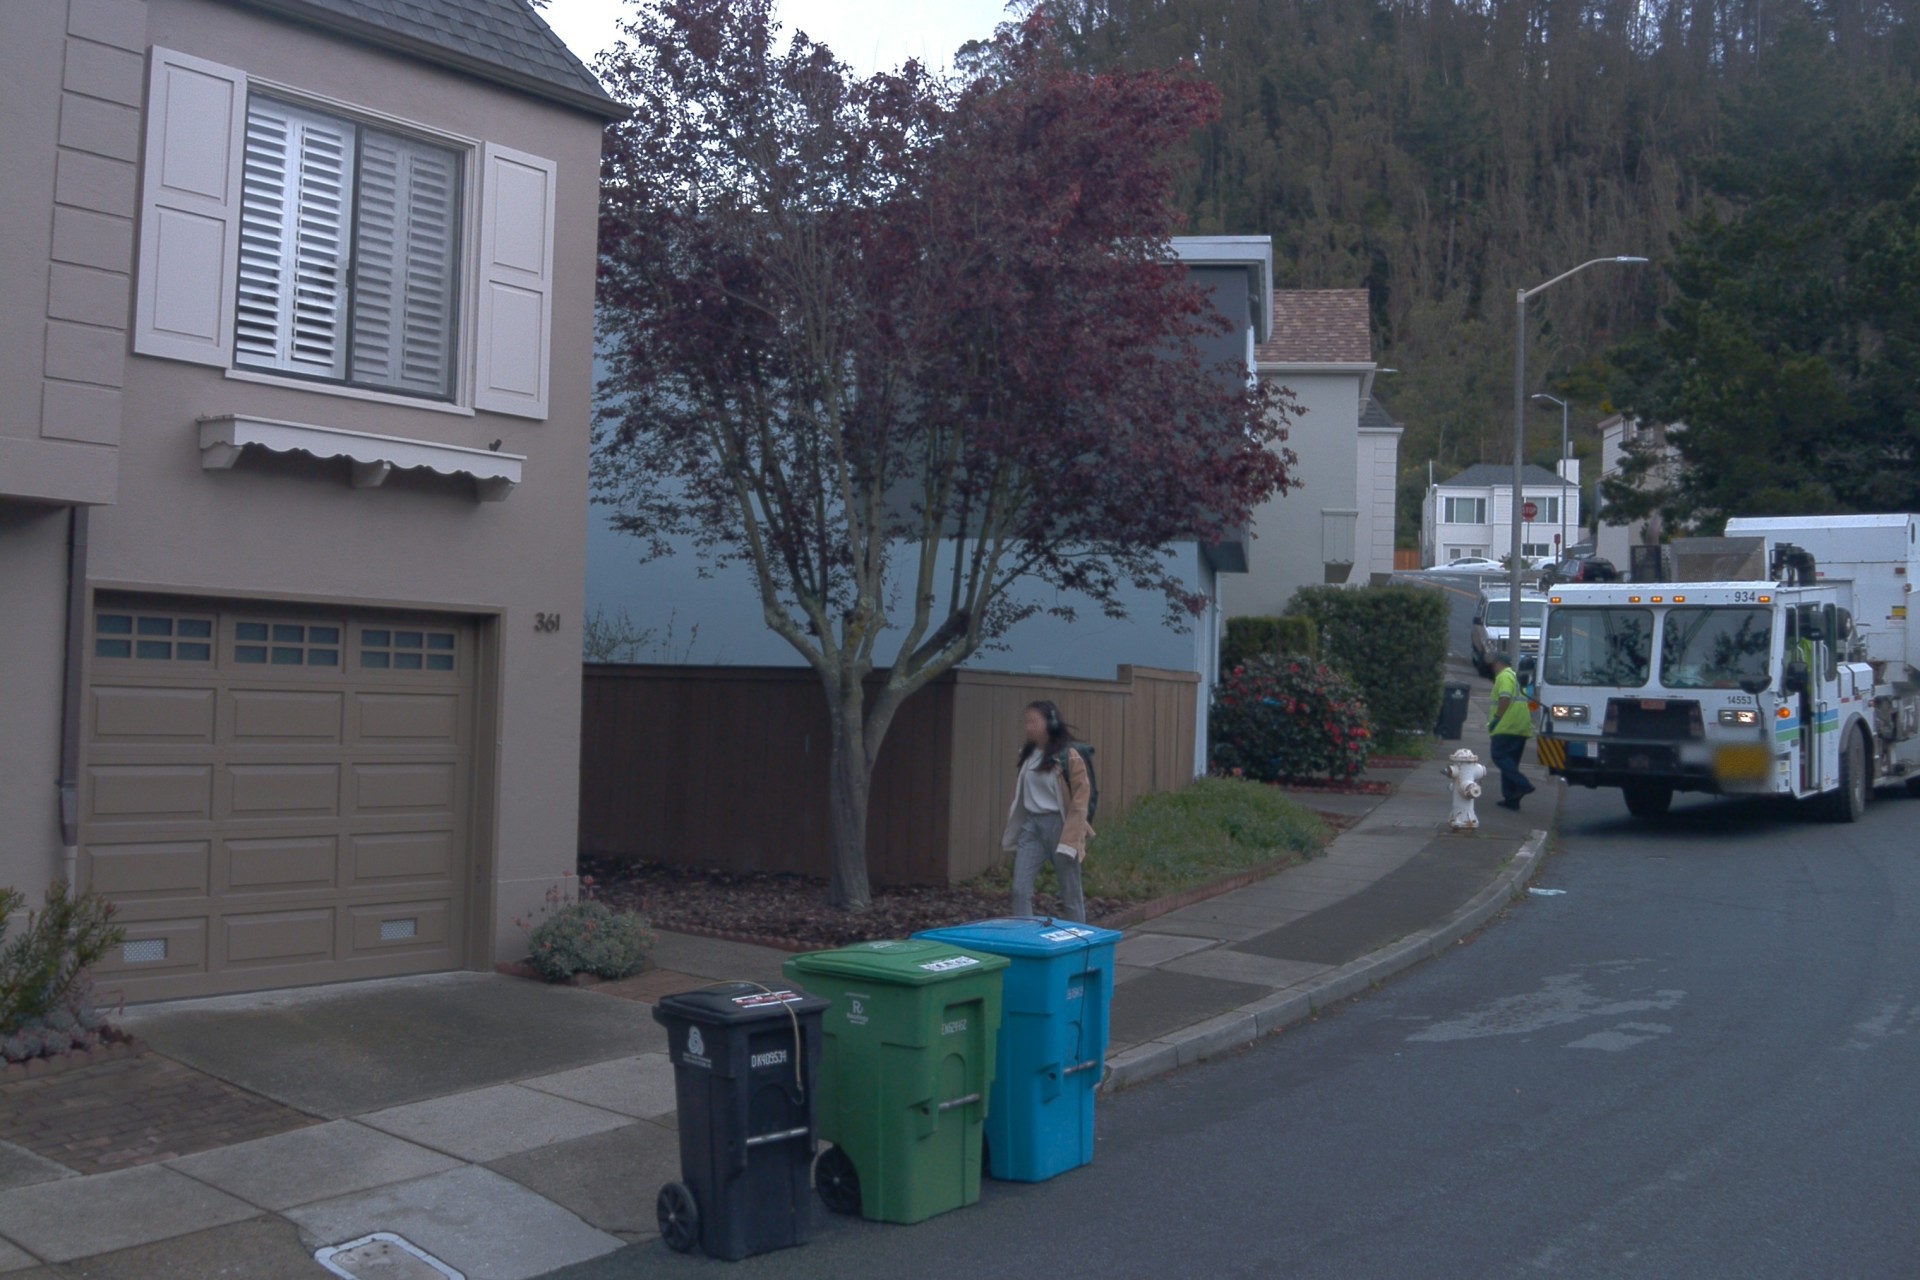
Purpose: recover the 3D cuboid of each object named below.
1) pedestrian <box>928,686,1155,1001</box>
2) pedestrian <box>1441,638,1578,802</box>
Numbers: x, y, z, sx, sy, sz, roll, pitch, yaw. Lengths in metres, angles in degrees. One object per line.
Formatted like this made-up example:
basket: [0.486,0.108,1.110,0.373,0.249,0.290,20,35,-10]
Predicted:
pedestrian: [0.493,1.160,12.347,0.947,1.740,1.007,0,0,35]
pedestrian: [6.206,0.873,23.419,1.104,1.790,1.026,0,0,-36]
